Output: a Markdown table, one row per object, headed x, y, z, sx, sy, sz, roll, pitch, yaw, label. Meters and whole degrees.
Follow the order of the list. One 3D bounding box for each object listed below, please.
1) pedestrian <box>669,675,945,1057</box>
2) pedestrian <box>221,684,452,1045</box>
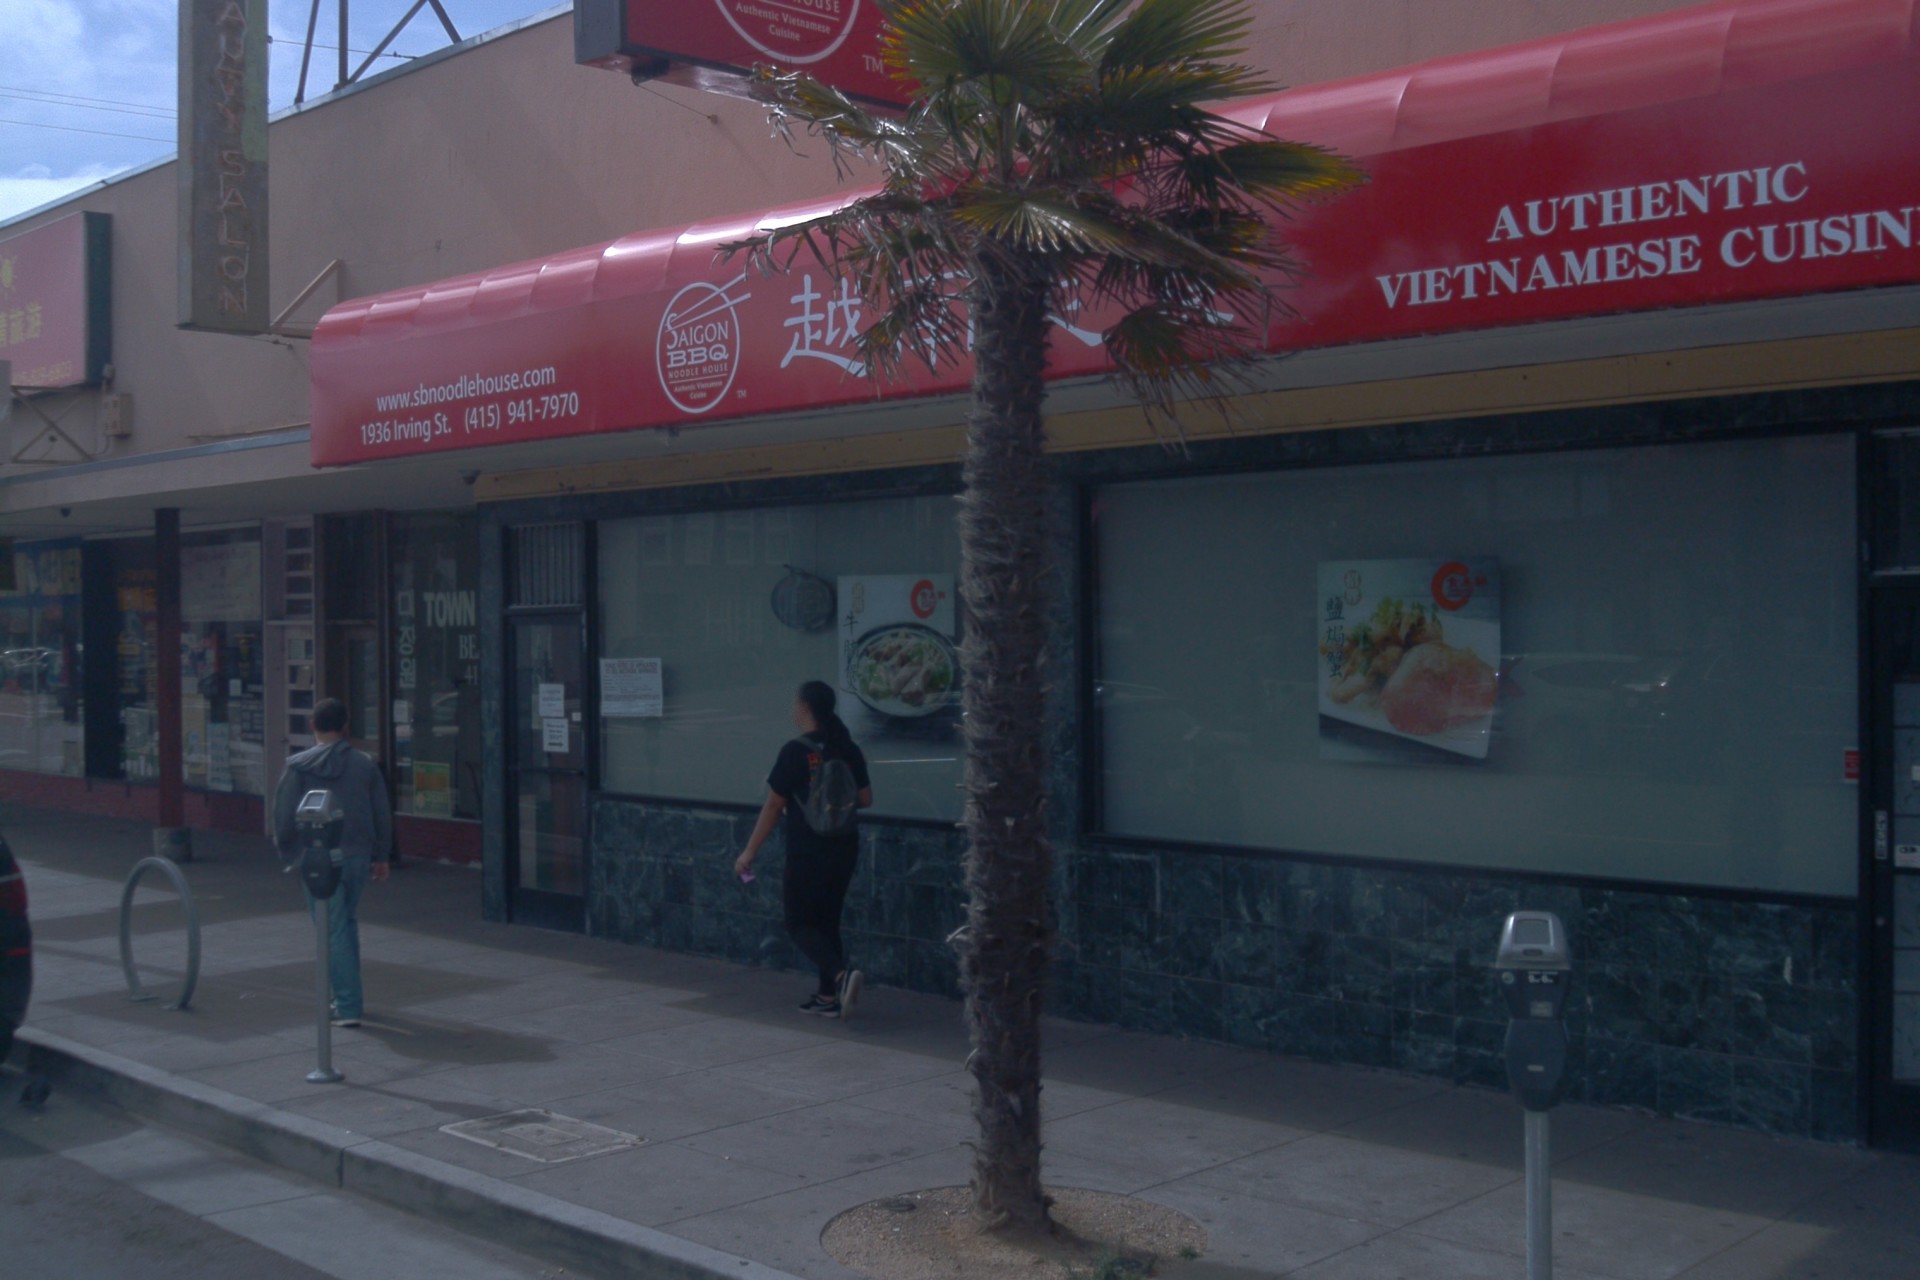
| x | y | z | sx | sy | sz | roll | pitch | yaw | label |
| --- | --- | --- | --- | --- | --- | --- | --- | --- | --- |
| -0.799 | 1.102 | 10.696 | 0.883 | 1.826 | 1.142 | 1 | -1 | -44 | pedestrian |
| -3.295 | 1.128 | 10.923 | 0.995 | 1.778 | 0.768 | 0 | -1 | 45 | pedestrian |
